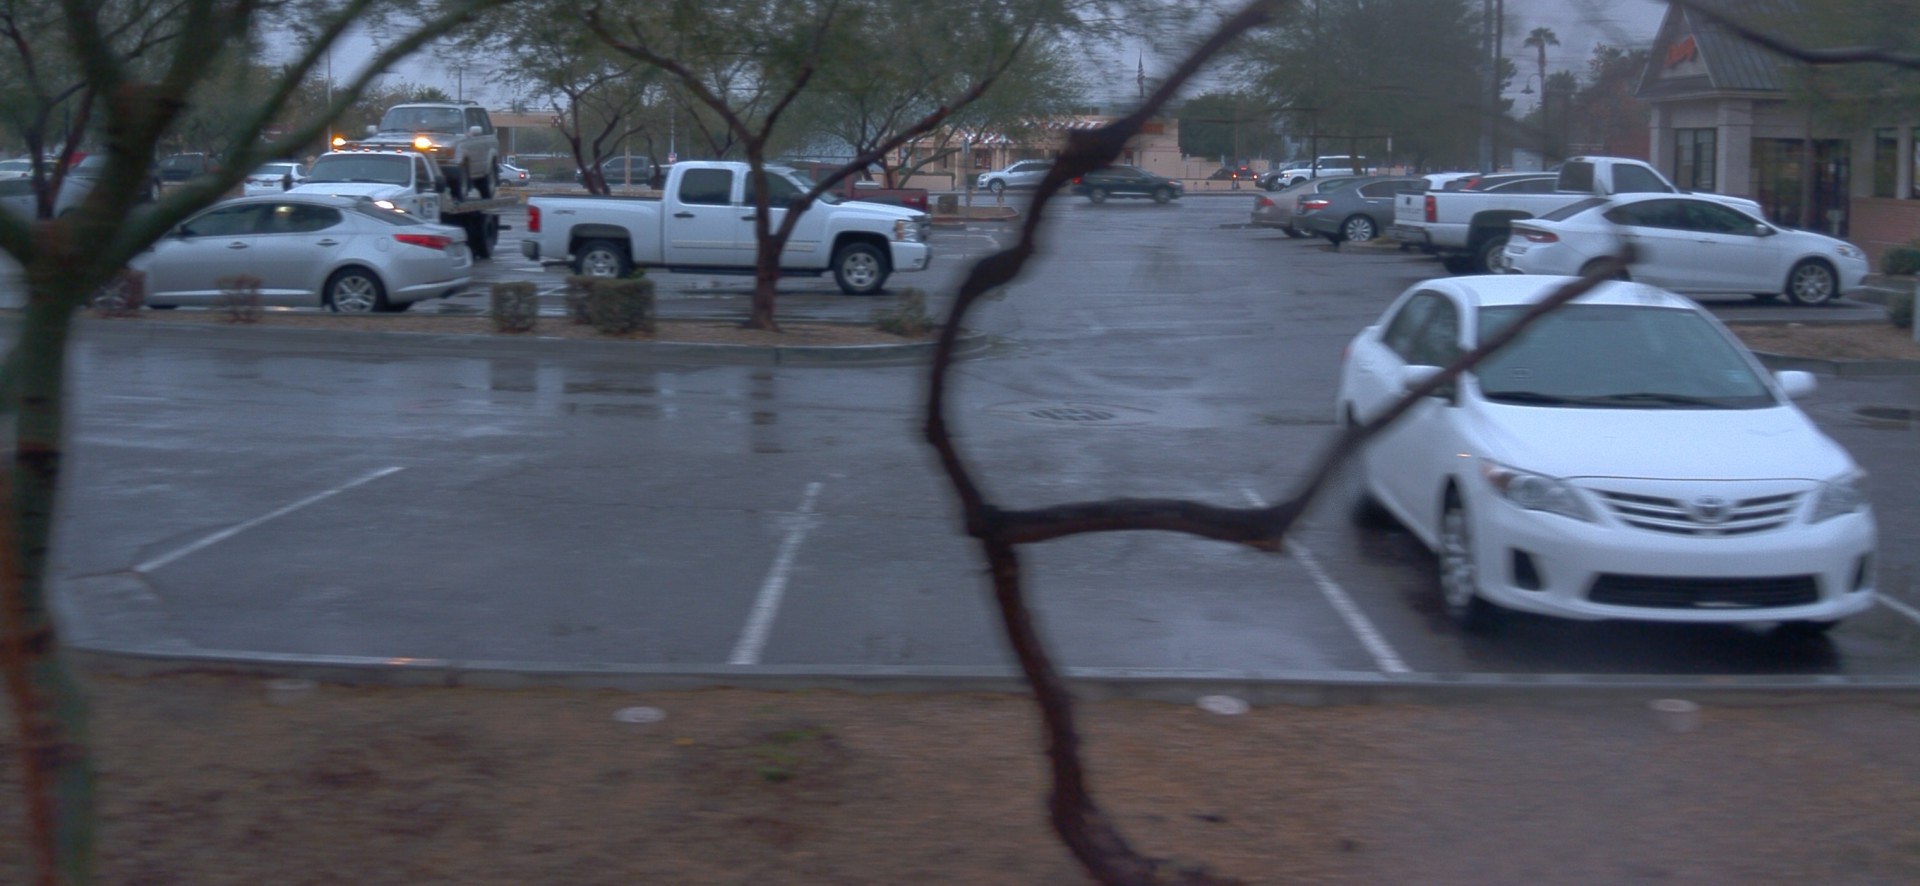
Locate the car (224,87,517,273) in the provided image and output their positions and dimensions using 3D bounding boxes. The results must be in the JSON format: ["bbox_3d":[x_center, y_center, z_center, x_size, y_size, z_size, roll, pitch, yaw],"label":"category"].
[{"bbox_3d":[-10.009,-4.487,36.408,2.854,2.828,8.829,0,5,-2],"label":"car"}]

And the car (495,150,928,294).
[{"bbox_3d":[-3.445,-3.165,29.820,5.900,1.946,2.280,0,3,0],"label":"car"}]

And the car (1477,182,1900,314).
[{"bbox_3d":[9.404,-2.552,27.167,4.786,1.616,2.206,0,4,1],"label":"car"}]

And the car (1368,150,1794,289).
[{"bbox_3d":[9.497,-3.436,32.103,5.860,2.026,2.377,0,3,-5],"label":"car"}]
